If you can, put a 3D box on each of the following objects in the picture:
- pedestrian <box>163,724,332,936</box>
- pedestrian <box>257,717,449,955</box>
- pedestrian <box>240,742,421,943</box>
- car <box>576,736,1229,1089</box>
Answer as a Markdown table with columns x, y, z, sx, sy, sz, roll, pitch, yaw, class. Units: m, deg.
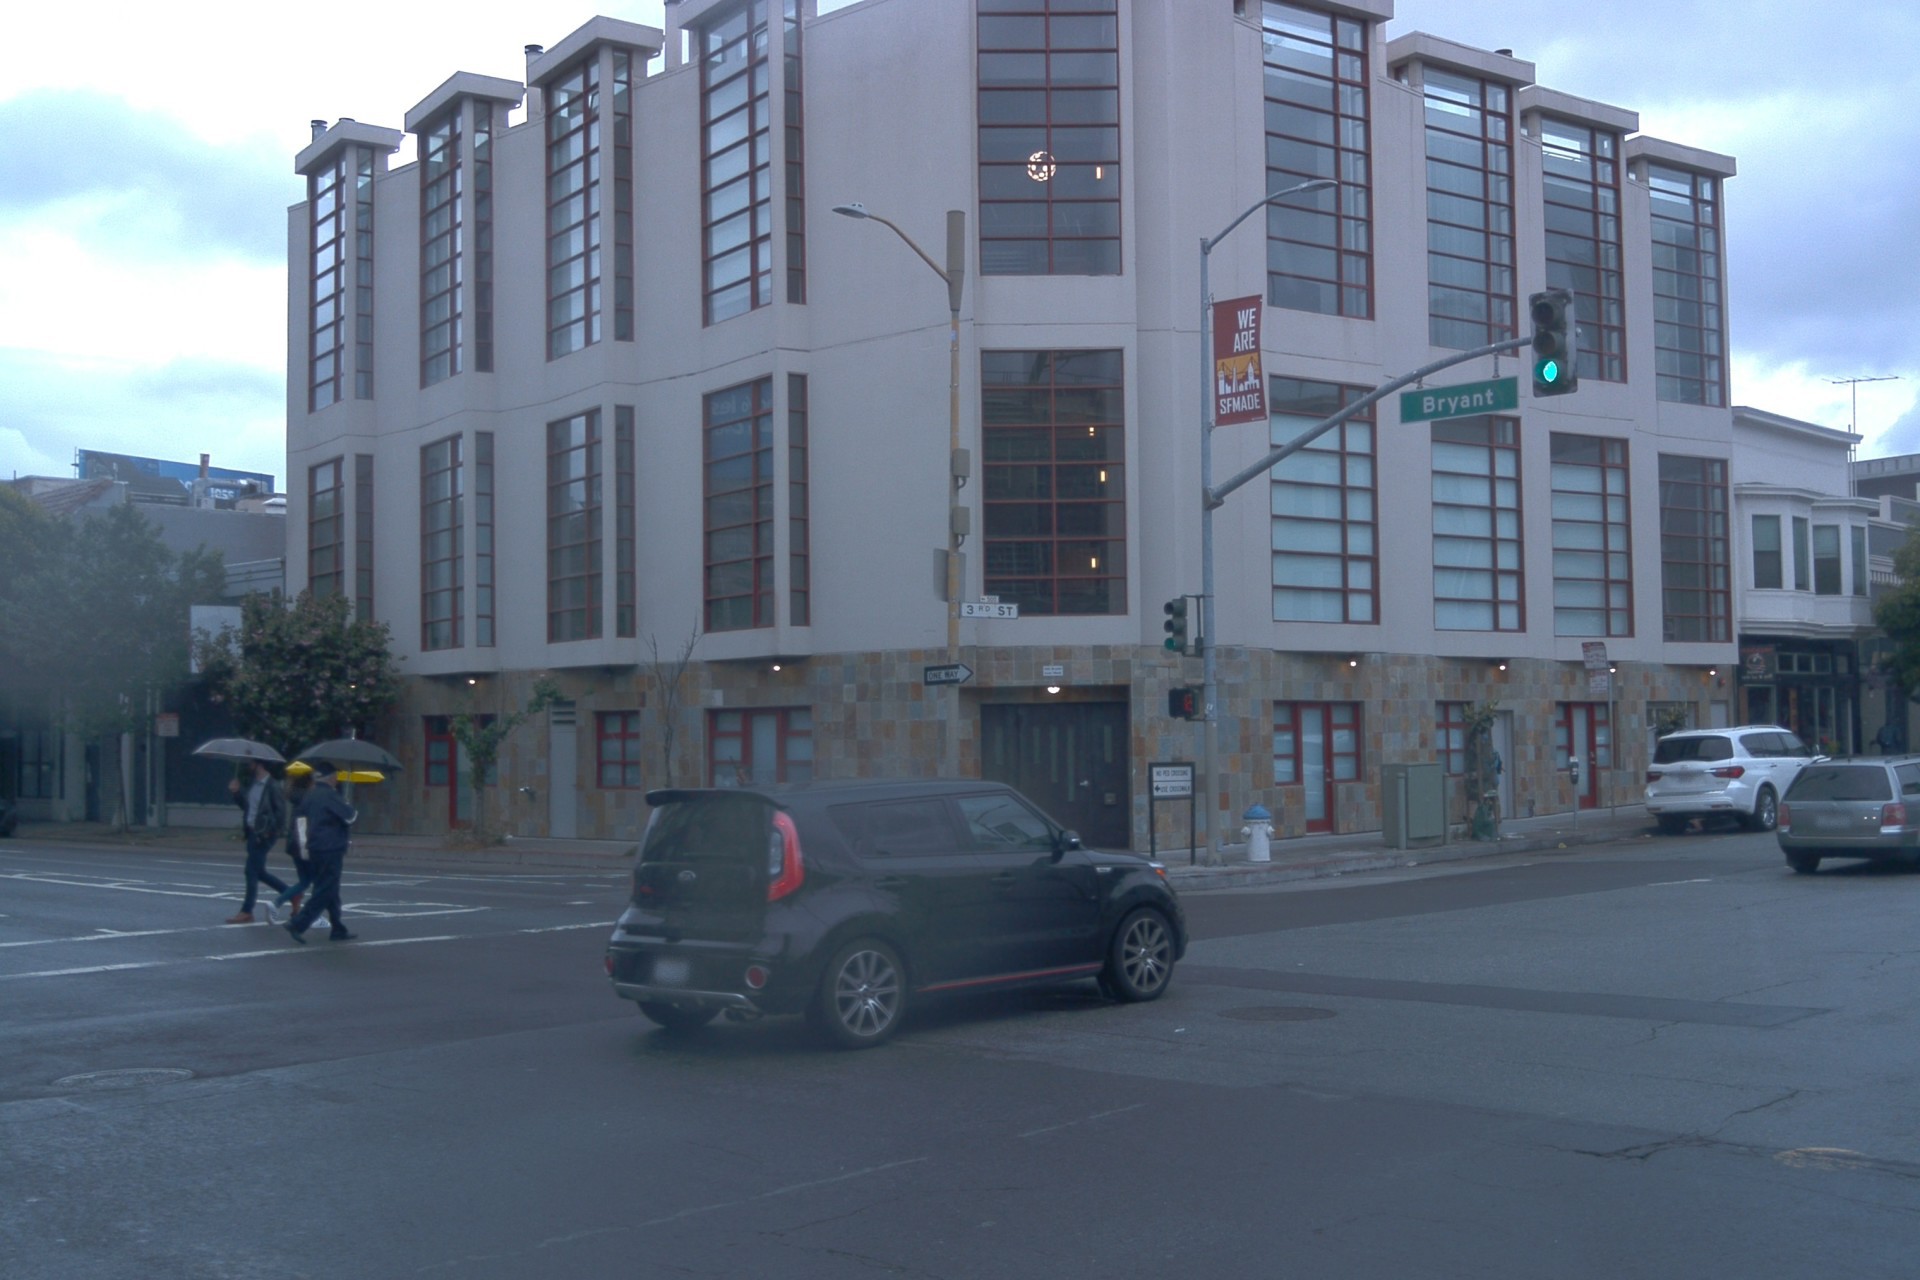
| x | y | z | sx | sy | sz | roll | pitch | yaw | class |
| --- | --- | --- | --- | --- | --- | --- | --- | --- | --- |
| -7.522 | 1.962 | 21.969 | 1.167 | 2.083 | 1.301 | 0 | 0 | 44 | pedestrian |
| -5.794 | 1.819 | 19.860 | 1.342 | 2.110 | 1.227 | 0 | 0 | -44 | pedestrian |
| -6.366 | 2.008 | 21.041 | 1.137 | 1.860 | 1.362 | 0 | 0 | 43 | pedestrian |
| -0.236 | 1.609 | 13.685 | 1.886 | 1.751 | 4.205 | 0 | 0 | 43 | car |
